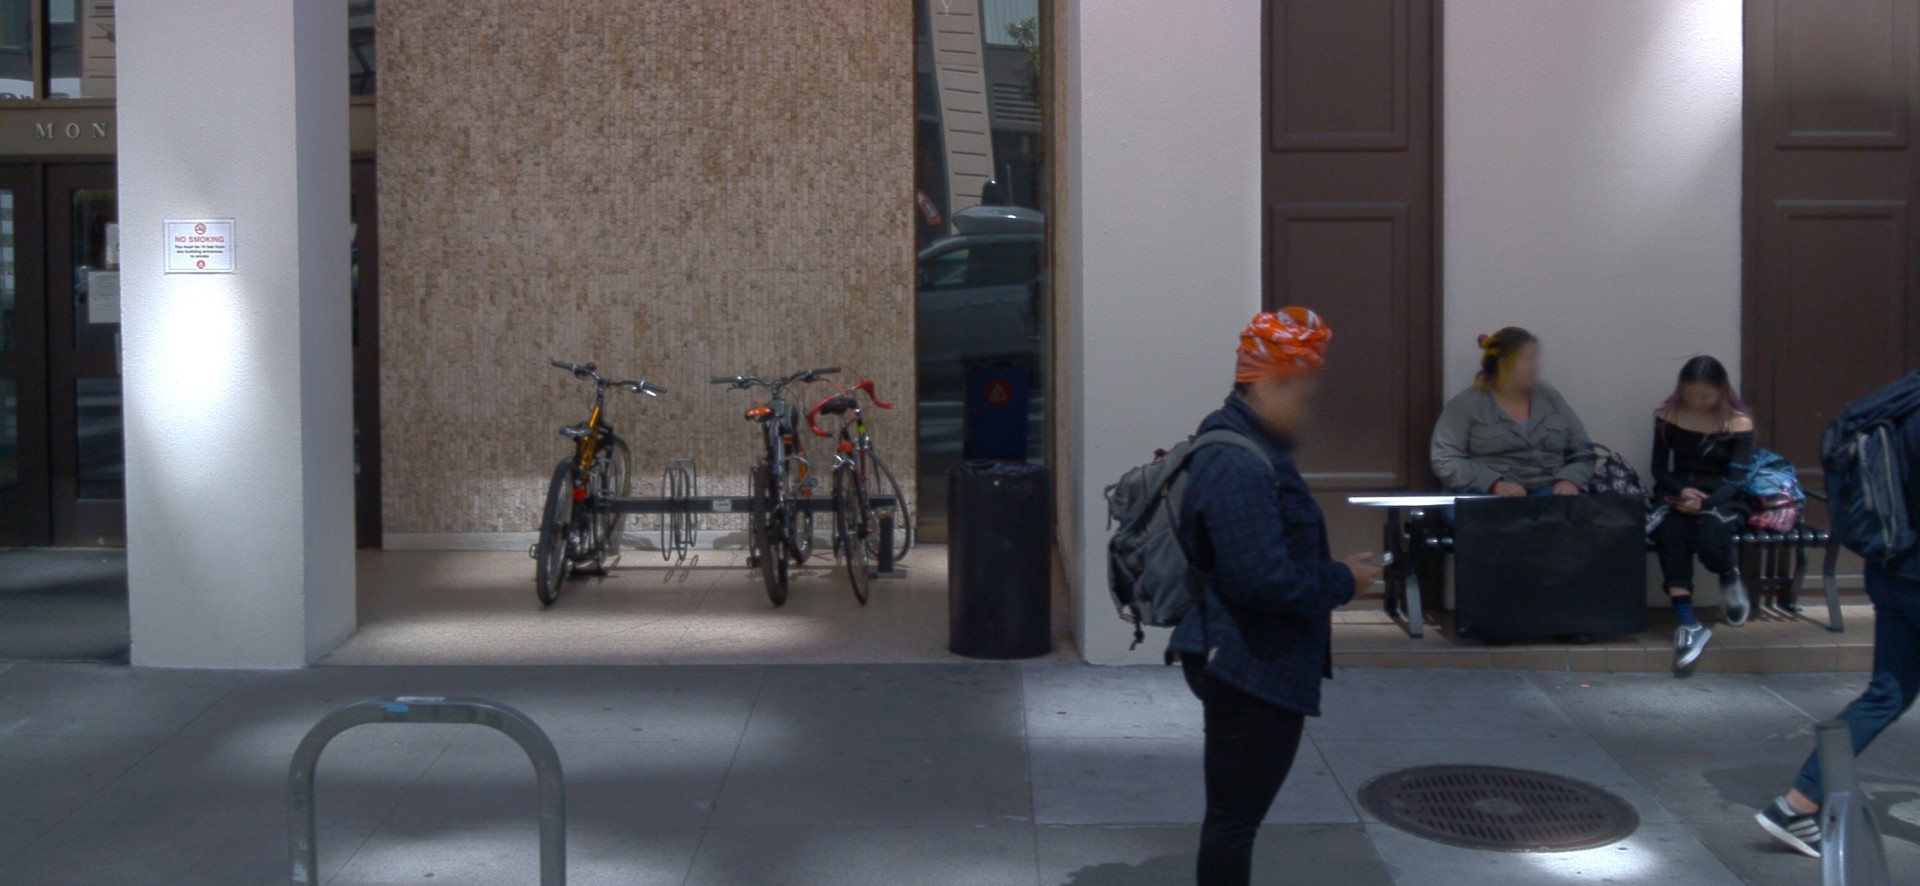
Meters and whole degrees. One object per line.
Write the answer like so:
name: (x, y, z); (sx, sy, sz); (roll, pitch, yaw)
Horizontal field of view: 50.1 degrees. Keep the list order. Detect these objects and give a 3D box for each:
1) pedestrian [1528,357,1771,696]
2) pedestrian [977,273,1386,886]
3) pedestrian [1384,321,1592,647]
pedestrian: (2.916, 0.306, 8.666); (0.640, 1.269, 0.965); (1, 2, 42)
pedestrian: (0.547, 0.519, 5.195); (0.943, 1.885, 0.869); (0, 1, 5)
pedestrian: (2.250, 0.152, 8.815); (0.748, 1.327, 0.610); (0, 1, 1)
